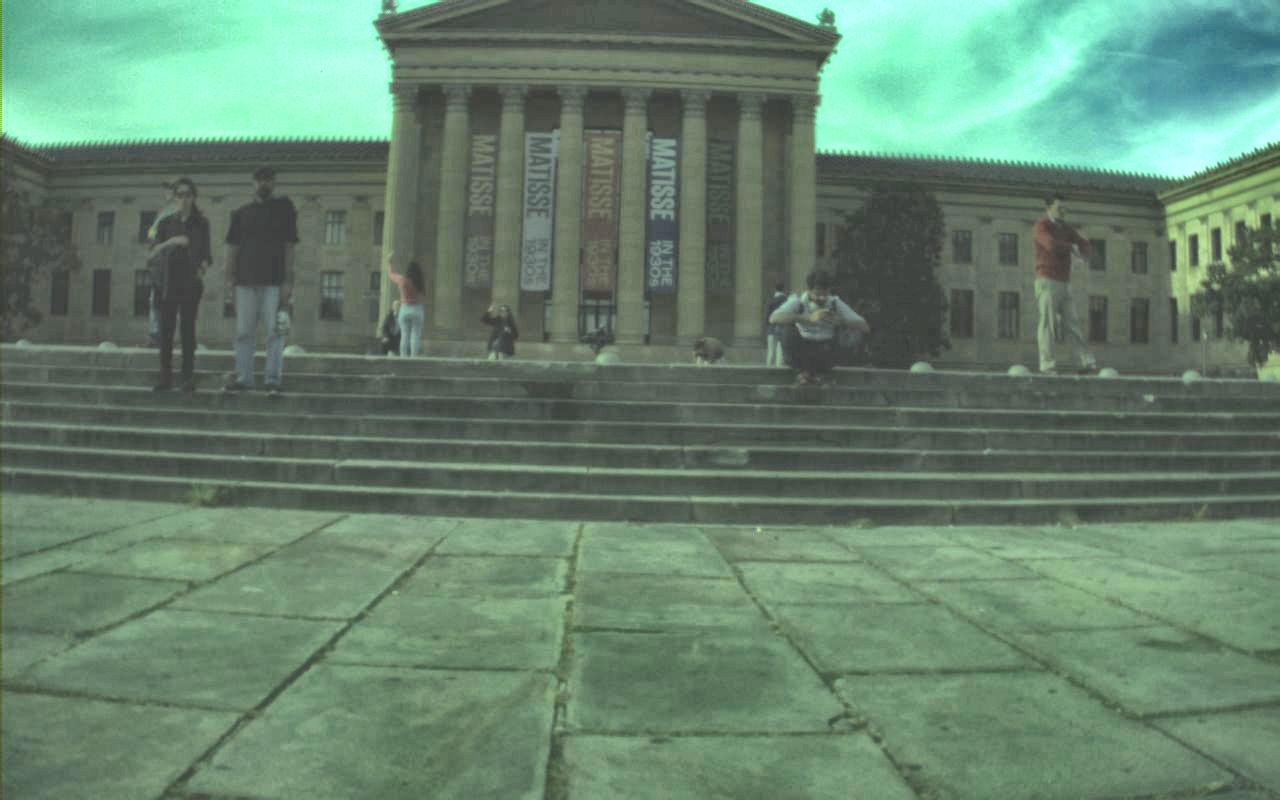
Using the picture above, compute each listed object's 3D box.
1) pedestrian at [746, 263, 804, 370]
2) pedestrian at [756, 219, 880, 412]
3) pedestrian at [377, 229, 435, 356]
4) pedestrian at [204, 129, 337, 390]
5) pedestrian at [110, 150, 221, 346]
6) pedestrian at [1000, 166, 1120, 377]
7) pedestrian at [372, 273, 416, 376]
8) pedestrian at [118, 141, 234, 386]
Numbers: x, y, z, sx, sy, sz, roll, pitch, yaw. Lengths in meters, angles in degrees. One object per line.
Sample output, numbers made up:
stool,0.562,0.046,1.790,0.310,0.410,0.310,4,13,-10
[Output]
pedestrian,2.333,-1.420,21.687,0.730,1.794,0.744,1,0,35
pedestrian,1.371,-0.637,9.759,0.832,1.438,0.744,0,0,-4
pedestrian,-3.442,-1.562,18.303,0.771,1.823,0.748,0,0,-6
pedestrian,-2.766,-1.013,9.054,0.748,1.874,0.740,0,0,6
pedestrian,-4.838,-1.489,11.986,0.848,1.915,0.808,0,0,6
pedestrian,3.871,-1.137,11.110,0.803,1.866,0.816,0,0,-16
pedestrian,-4.385,-1.324,22.074,0.700,1.788,0.682,0,0,-19
pedestrian,-3.554,-1.006,9.057,0.761,1.808,0.752,0,0,-11
